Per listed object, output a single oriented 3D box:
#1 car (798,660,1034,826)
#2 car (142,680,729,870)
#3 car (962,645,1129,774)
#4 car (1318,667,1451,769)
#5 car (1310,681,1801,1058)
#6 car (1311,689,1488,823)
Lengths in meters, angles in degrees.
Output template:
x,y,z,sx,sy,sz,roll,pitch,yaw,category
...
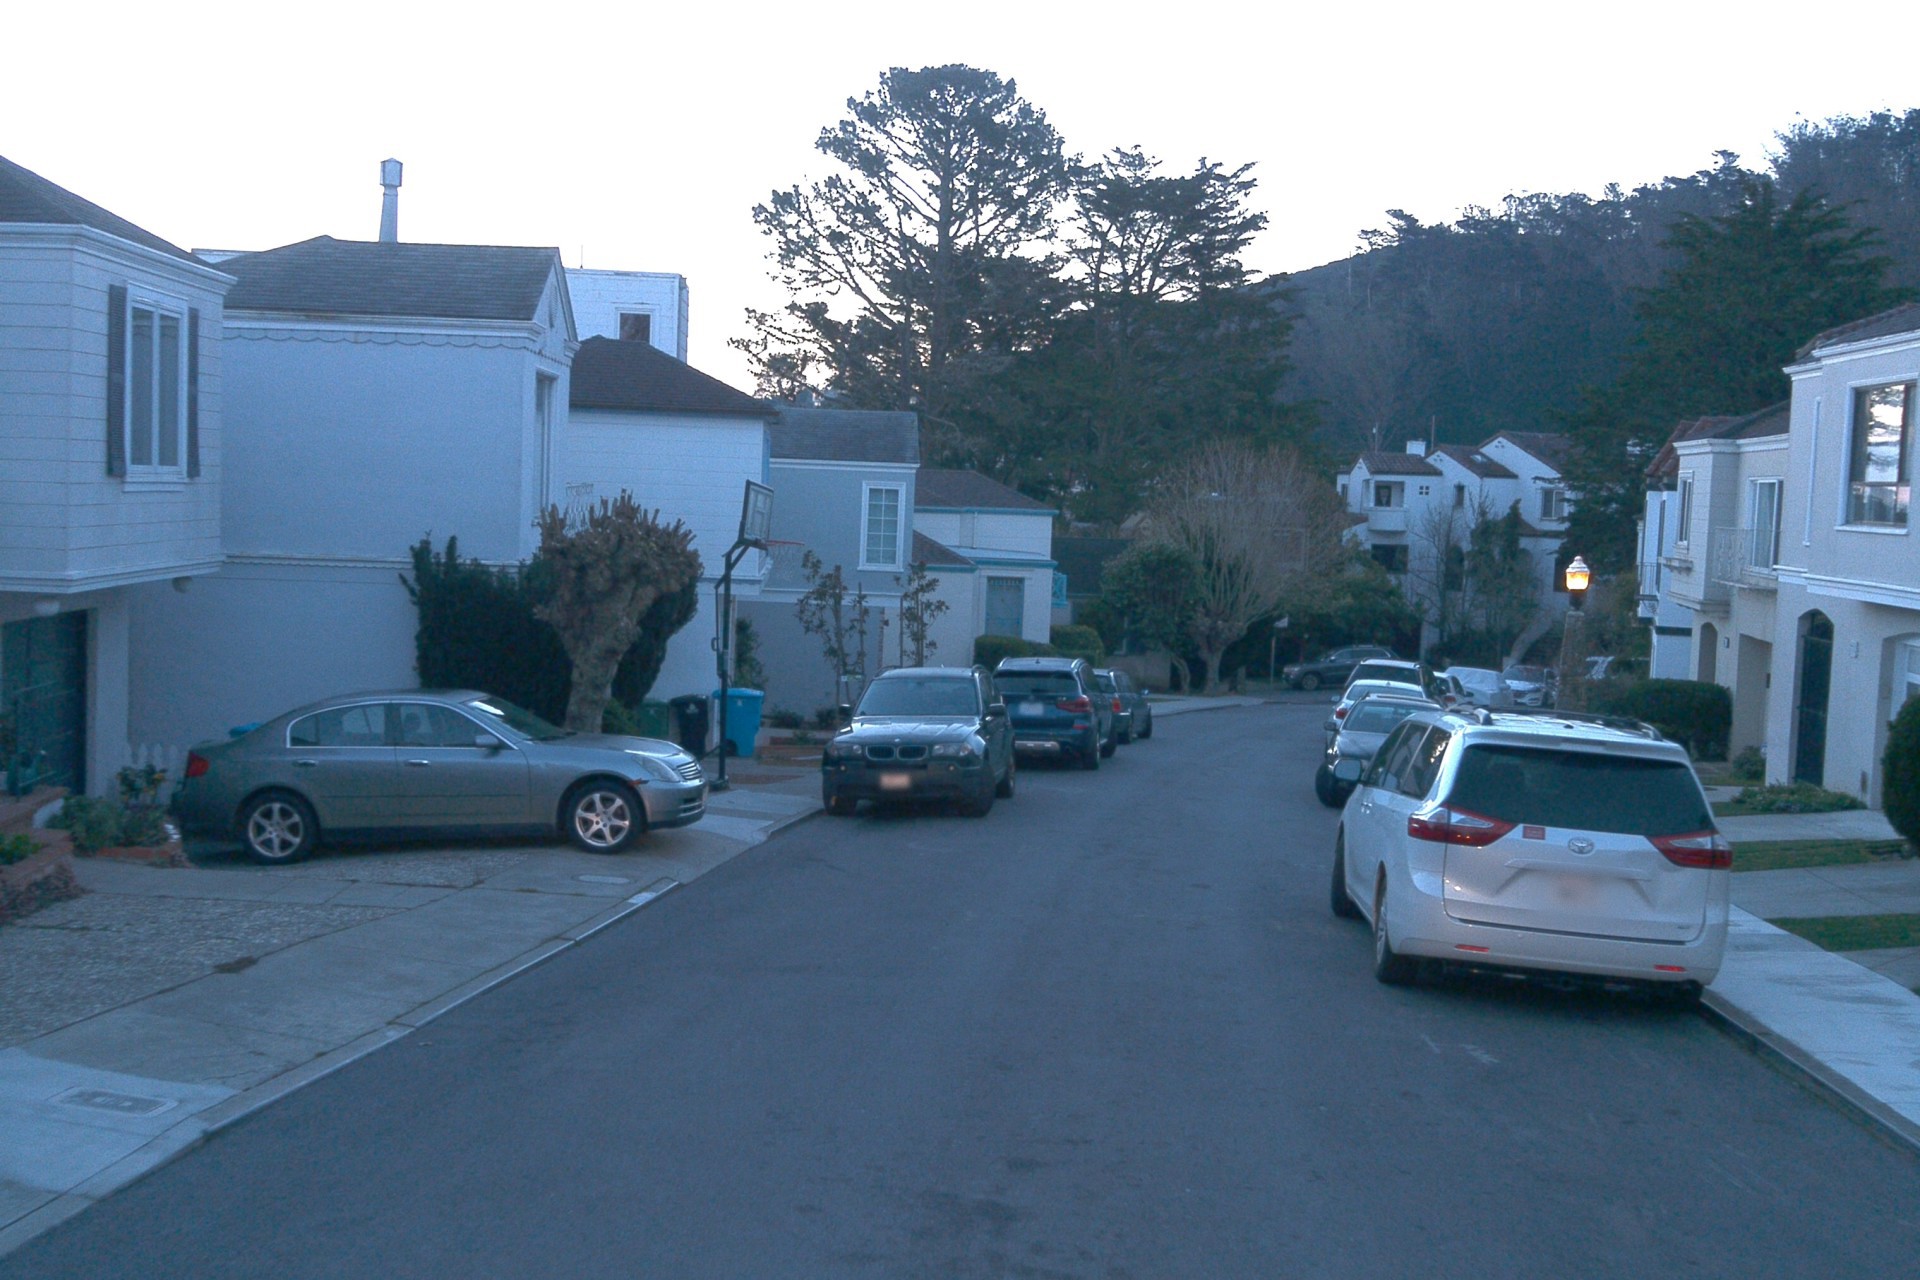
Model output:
x,y,z,sx,sy,sz,roll,pitch,yaw,category
-0.402,1.122,24.453,2.095,1.740,4.526,0,0,8,car
-4.612,1.168,18.711,4.768,1.580,1.989,0,0,3,car
1.431,1.020,32.427,2.210,1.870,4.683,0,0,7,car
7.684,1.339,37.168,2.108,1.660,4.900,0,0,14,car
3.810,1.348,14.336,2.376,2.050,5.074,0,0,6,car
5.875,1.471,27.765,2.125,1.520,4.899,0,0,12,car
